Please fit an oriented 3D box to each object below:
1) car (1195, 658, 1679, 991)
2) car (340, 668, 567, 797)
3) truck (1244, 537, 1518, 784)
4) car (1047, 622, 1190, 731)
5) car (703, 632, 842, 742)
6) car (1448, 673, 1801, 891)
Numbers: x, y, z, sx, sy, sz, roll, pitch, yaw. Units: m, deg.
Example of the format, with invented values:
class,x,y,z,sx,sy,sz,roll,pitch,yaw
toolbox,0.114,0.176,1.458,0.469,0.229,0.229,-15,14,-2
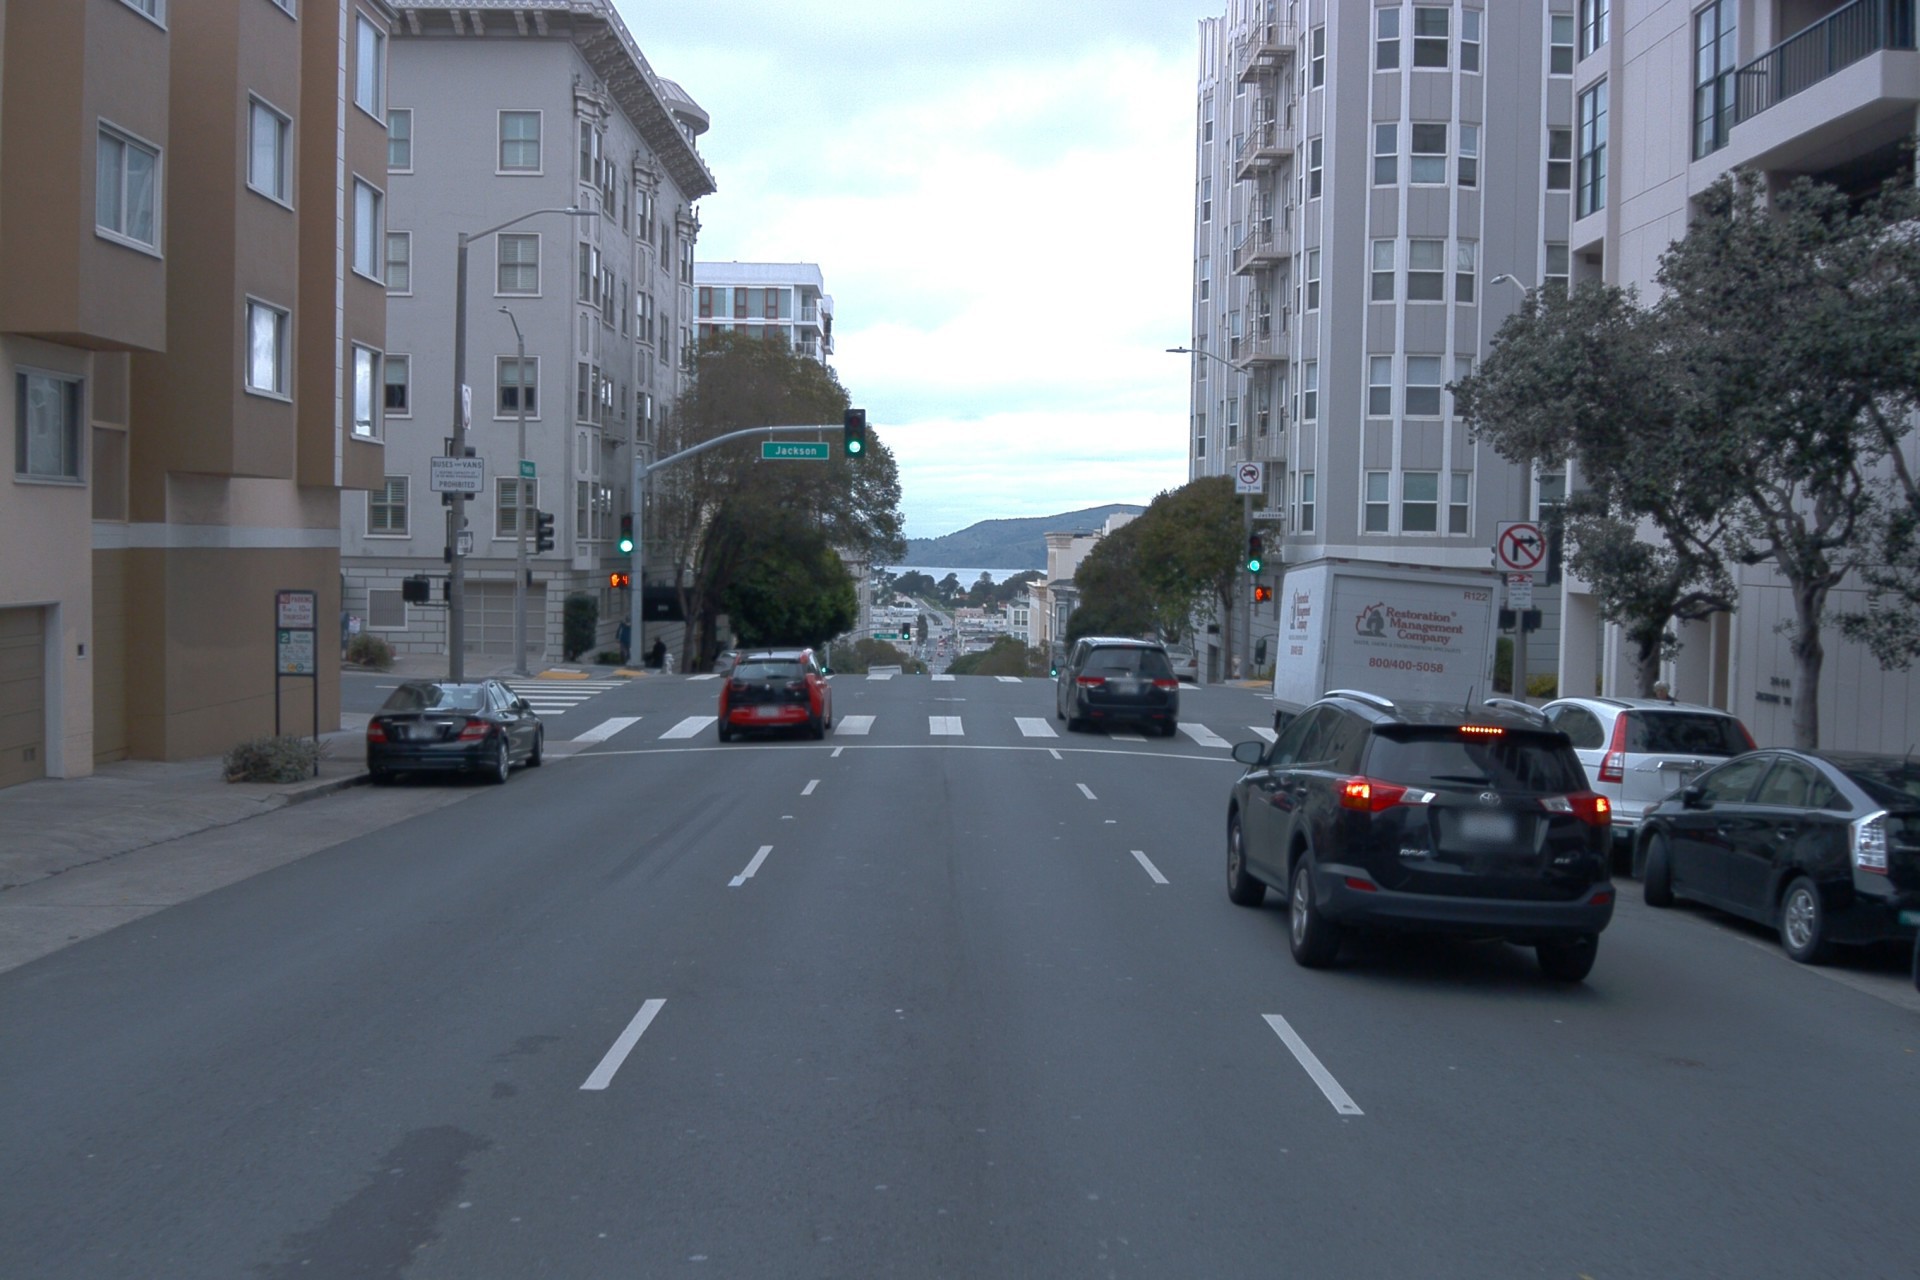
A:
class,x,y,z,sx,sy,sz,roll,pitch,yaw
car,2.967,1.066,13.919,2.147,1.800,4.643,0,1,-1
car,-6.924,1.215,28.565,1.999,1.530,4.851,0,0,-1
truck,6.294,0.255,31.840,2.894,3.400,7.062,0,1,1
car,2.873,0.614,38.298,2.200,1.890,4.938,0,1,-1
car,-3.179,0.763,35.511,2.065,1.780,4.070,0,1,-1
car,6.555,1.324,20.809,2.014,1.860,4.444,0,1,-2
